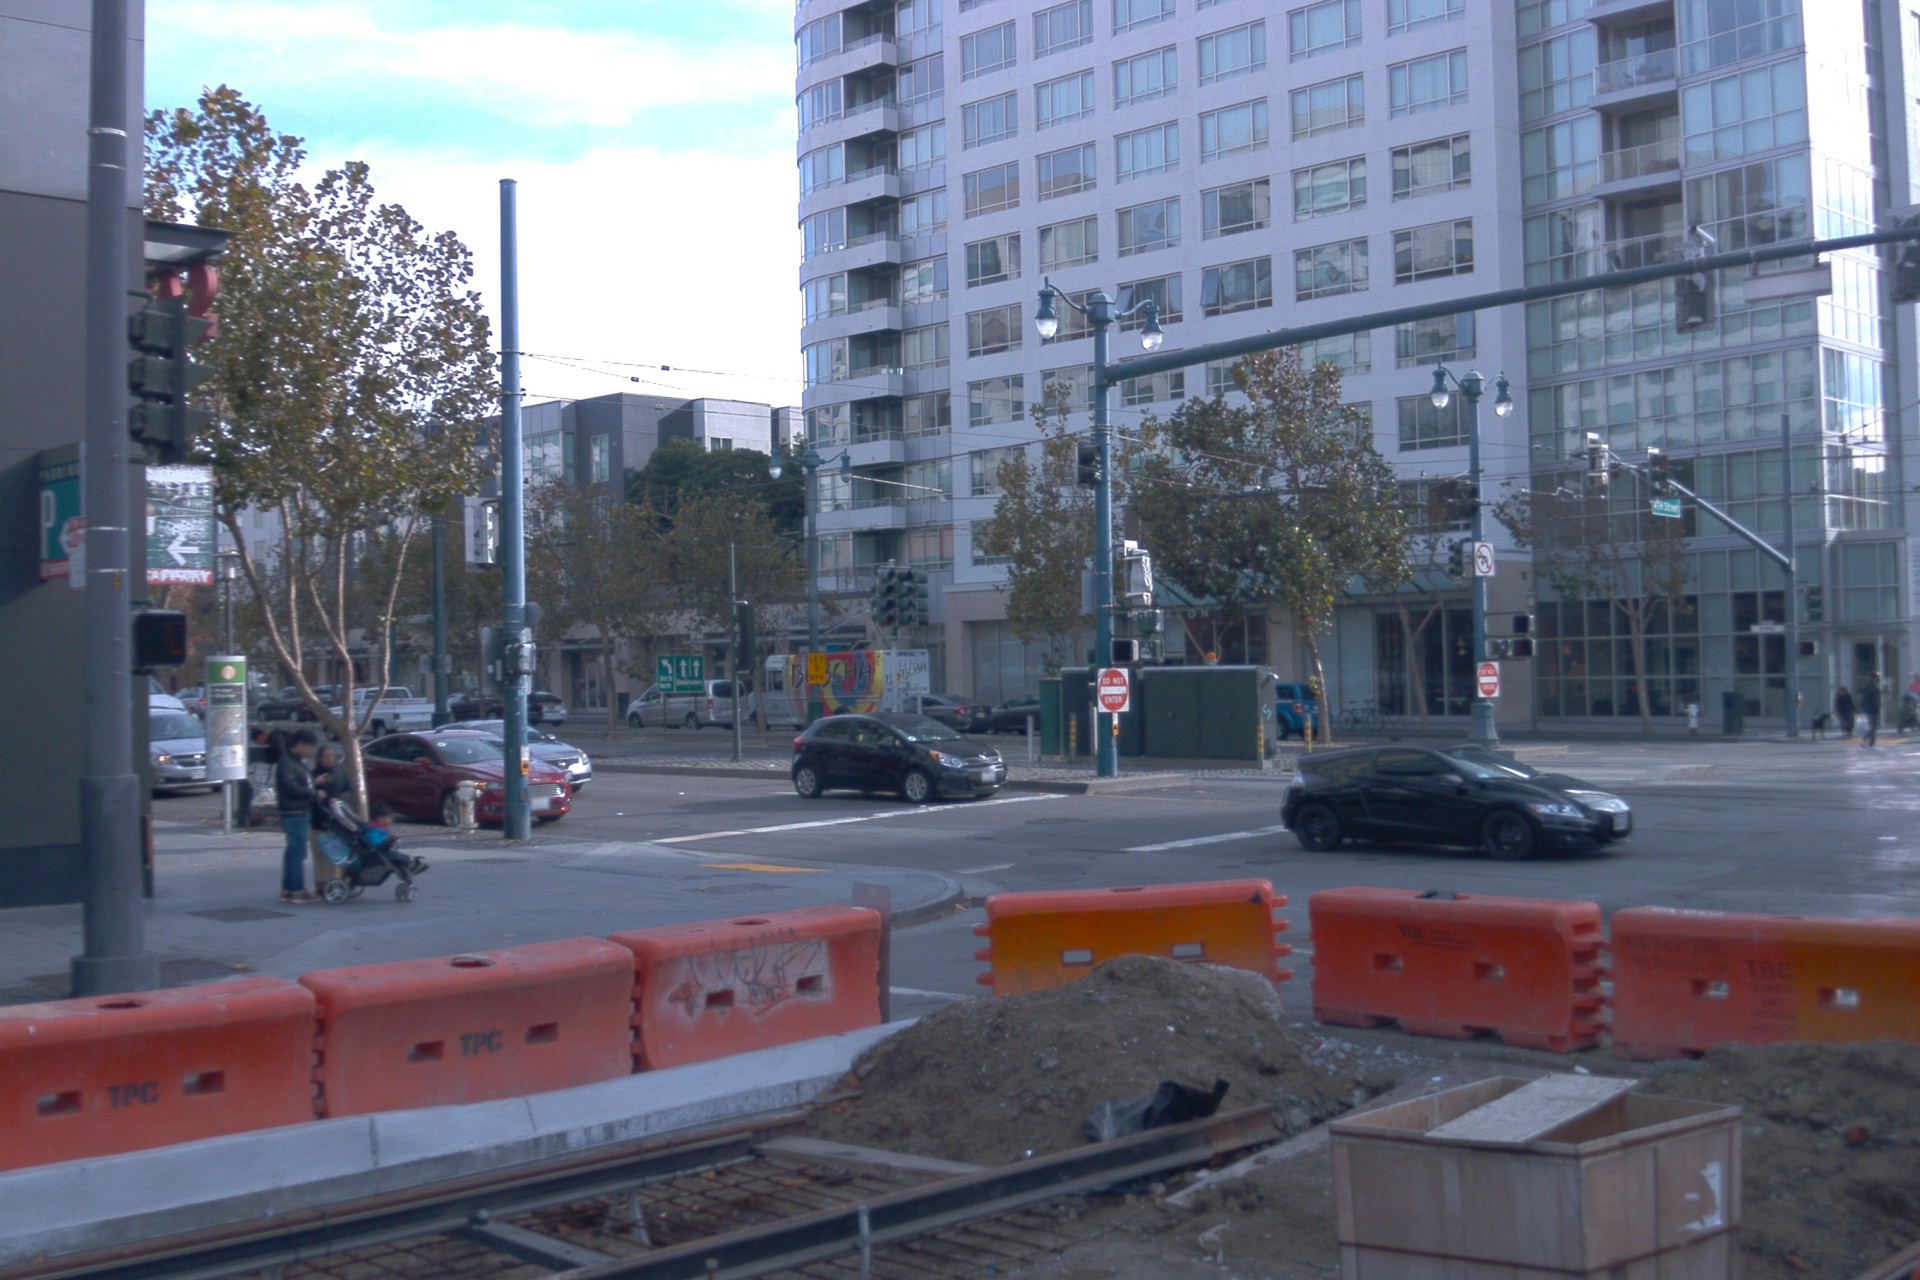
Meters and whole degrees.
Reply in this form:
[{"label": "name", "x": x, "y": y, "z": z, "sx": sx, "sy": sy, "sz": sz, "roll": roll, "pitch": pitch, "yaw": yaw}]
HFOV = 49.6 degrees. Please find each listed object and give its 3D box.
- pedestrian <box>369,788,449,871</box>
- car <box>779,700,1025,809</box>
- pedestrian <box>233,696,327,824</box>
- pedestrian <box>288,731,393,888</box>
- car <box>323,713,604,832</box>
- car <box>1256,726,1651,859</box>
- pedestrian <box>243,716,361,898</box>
[{"label": "pedestrian", "x": -5.309, "y": 1.817, "z": 20.013, "sx": 0.723, "sy": 0.752, "sz": 0.485, "roll": 0, "pitch": -1, "yaw": -15}, {"label": "car", "x": -1.010, "y": 1.867, "z": 34.754, "sx": 4.011, "sy": 1.617, "sz": 1.782, "roll": 0, "pitch": -1, "yaw": 43}, {"label": "pedestrian", "x": -10.096, "y": 1.767, "z": 30.849, "sx": 0.942, "sy": 1.830, "sz": 0.981, "roll": 0, "pitch": -1, "yaw": 43}, {"label": "pedestrian", "x": -6.050, "y": 1.637, "z": 20.298, "sx": 0.723, "sy": 1.460, "sz": 0.660, "roll": 0, "pitch": -1, "yaw": 29}, {"label": "car", "x": -7.979, "y": 2.041, "z": 33.088, "sx": 4.851, "sy": 1.605, "sz": 2.114, "roll": 0, "pitch": -1, "yaw": 45}, {"label": "car", "x": 5.788, "y": 1.742, "z": 24.639, "sx": 4.114, "sy": 1.279, "sz": 1.968, "roll": 0, "pitch": -1, "yaw": 43}, {"label": "pedestrian", "x": -6.293, "y": 1.570, "z": 19.878, "sx": 0.748, "sy": 1.660, "sz": 0.767, "roll": 0, "pitch": -1, "yaw": 38}]
